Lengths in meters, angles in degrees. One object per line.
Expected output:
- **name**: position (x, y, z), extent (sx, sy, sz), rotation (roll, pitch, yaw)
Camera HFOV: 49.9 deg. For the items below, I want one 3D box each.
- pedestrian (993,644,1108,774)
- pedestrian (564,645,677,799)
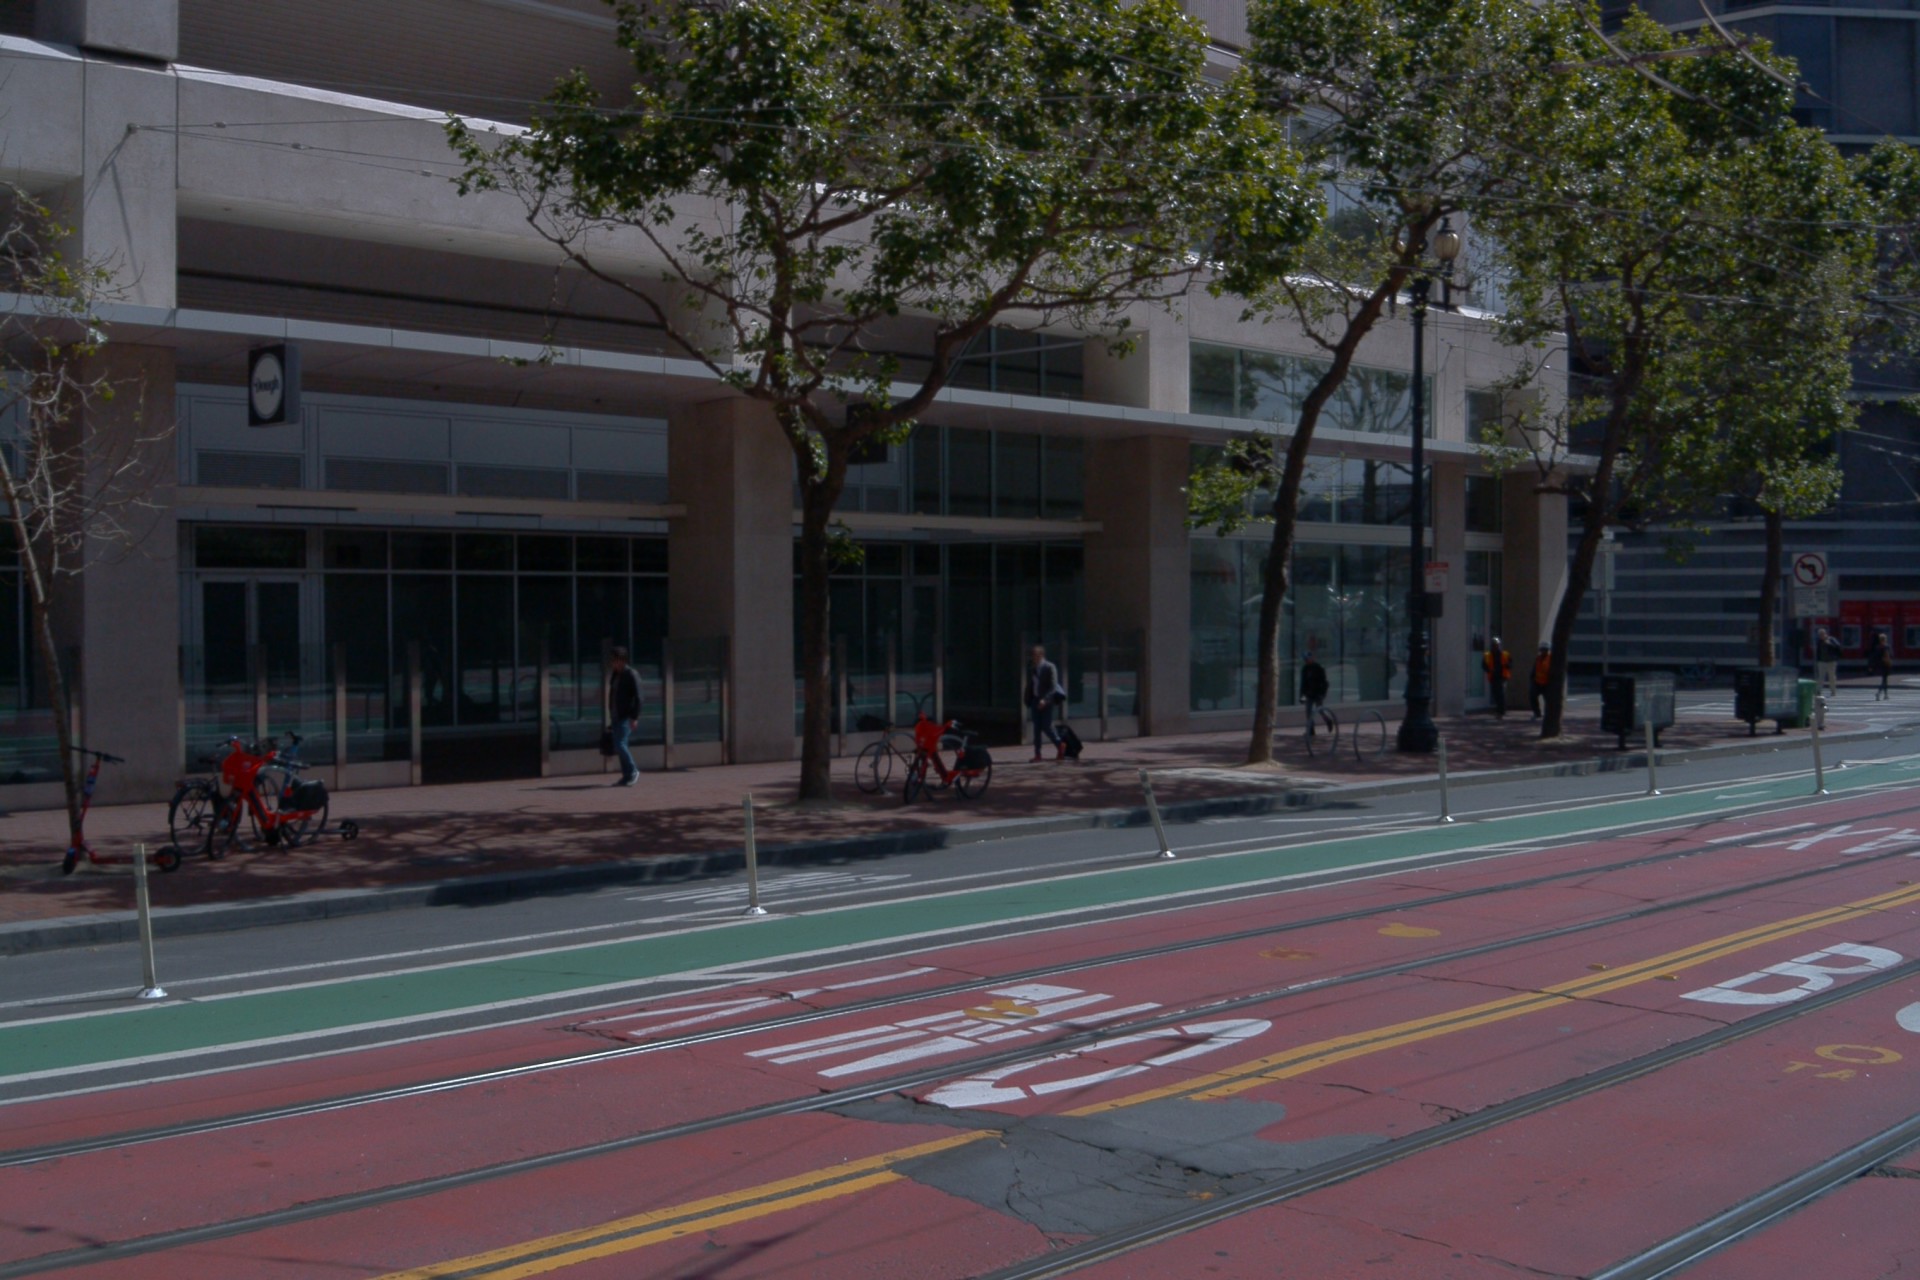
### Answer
- **pedestrian**: position (1.419, 1.053, 32.231), extent (1.558, 1.950, 0.976), rotation (-1, 1, -43)
- **pedestrian**: position (-4.484, 1.055, 27.268), extent (0.850, 1.950, 1.198), rotation (1, 1, 43)
